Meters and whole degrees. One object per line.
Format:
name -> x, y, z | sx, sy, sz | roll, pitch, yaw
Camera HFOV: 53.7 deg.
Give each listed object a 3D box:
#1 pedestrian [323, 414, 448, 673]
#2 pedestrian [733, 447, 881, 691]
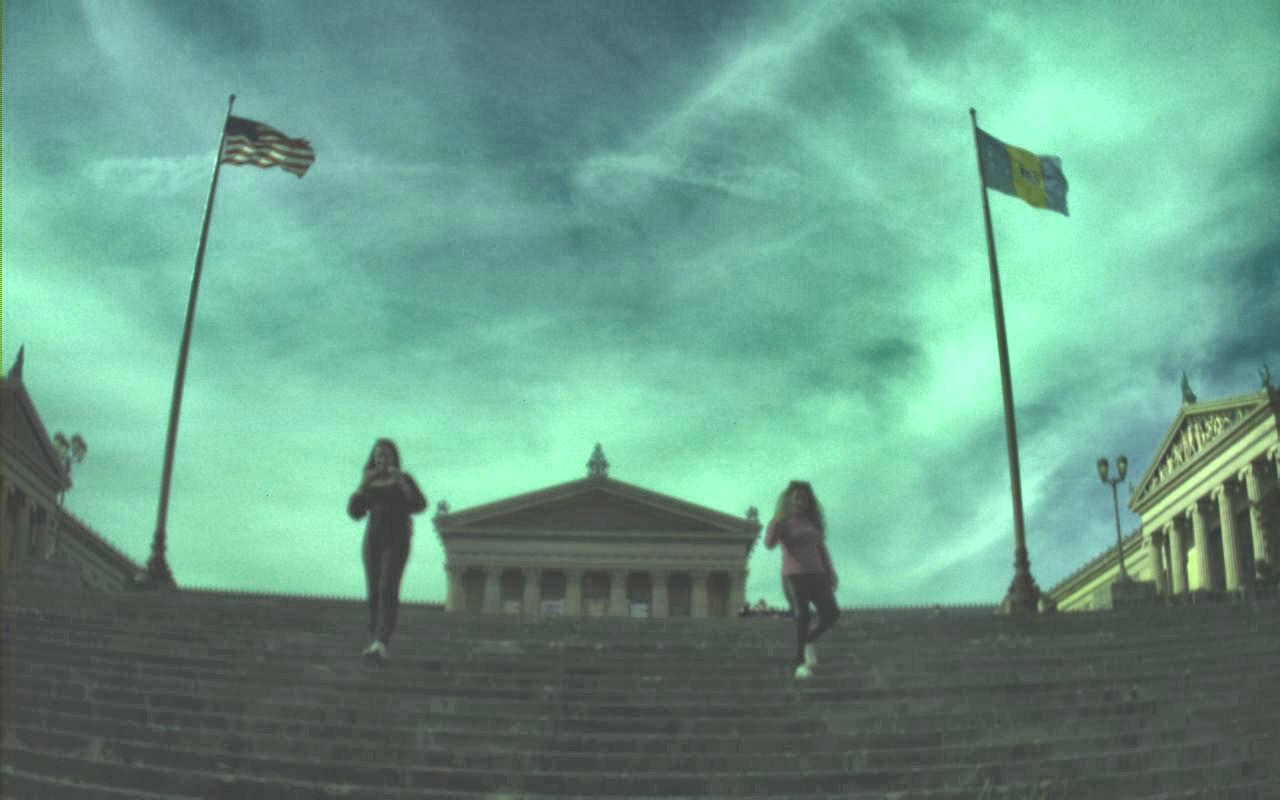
pedestrian -> -1.855, 1.028, 9.019 | 0.750, 1.805, 0.739 | 0, 0, 2
pedestrian -> 1.184, 1.185, 8.950 | 0.789, 1.639, 0.837 | 0, 0, -13
